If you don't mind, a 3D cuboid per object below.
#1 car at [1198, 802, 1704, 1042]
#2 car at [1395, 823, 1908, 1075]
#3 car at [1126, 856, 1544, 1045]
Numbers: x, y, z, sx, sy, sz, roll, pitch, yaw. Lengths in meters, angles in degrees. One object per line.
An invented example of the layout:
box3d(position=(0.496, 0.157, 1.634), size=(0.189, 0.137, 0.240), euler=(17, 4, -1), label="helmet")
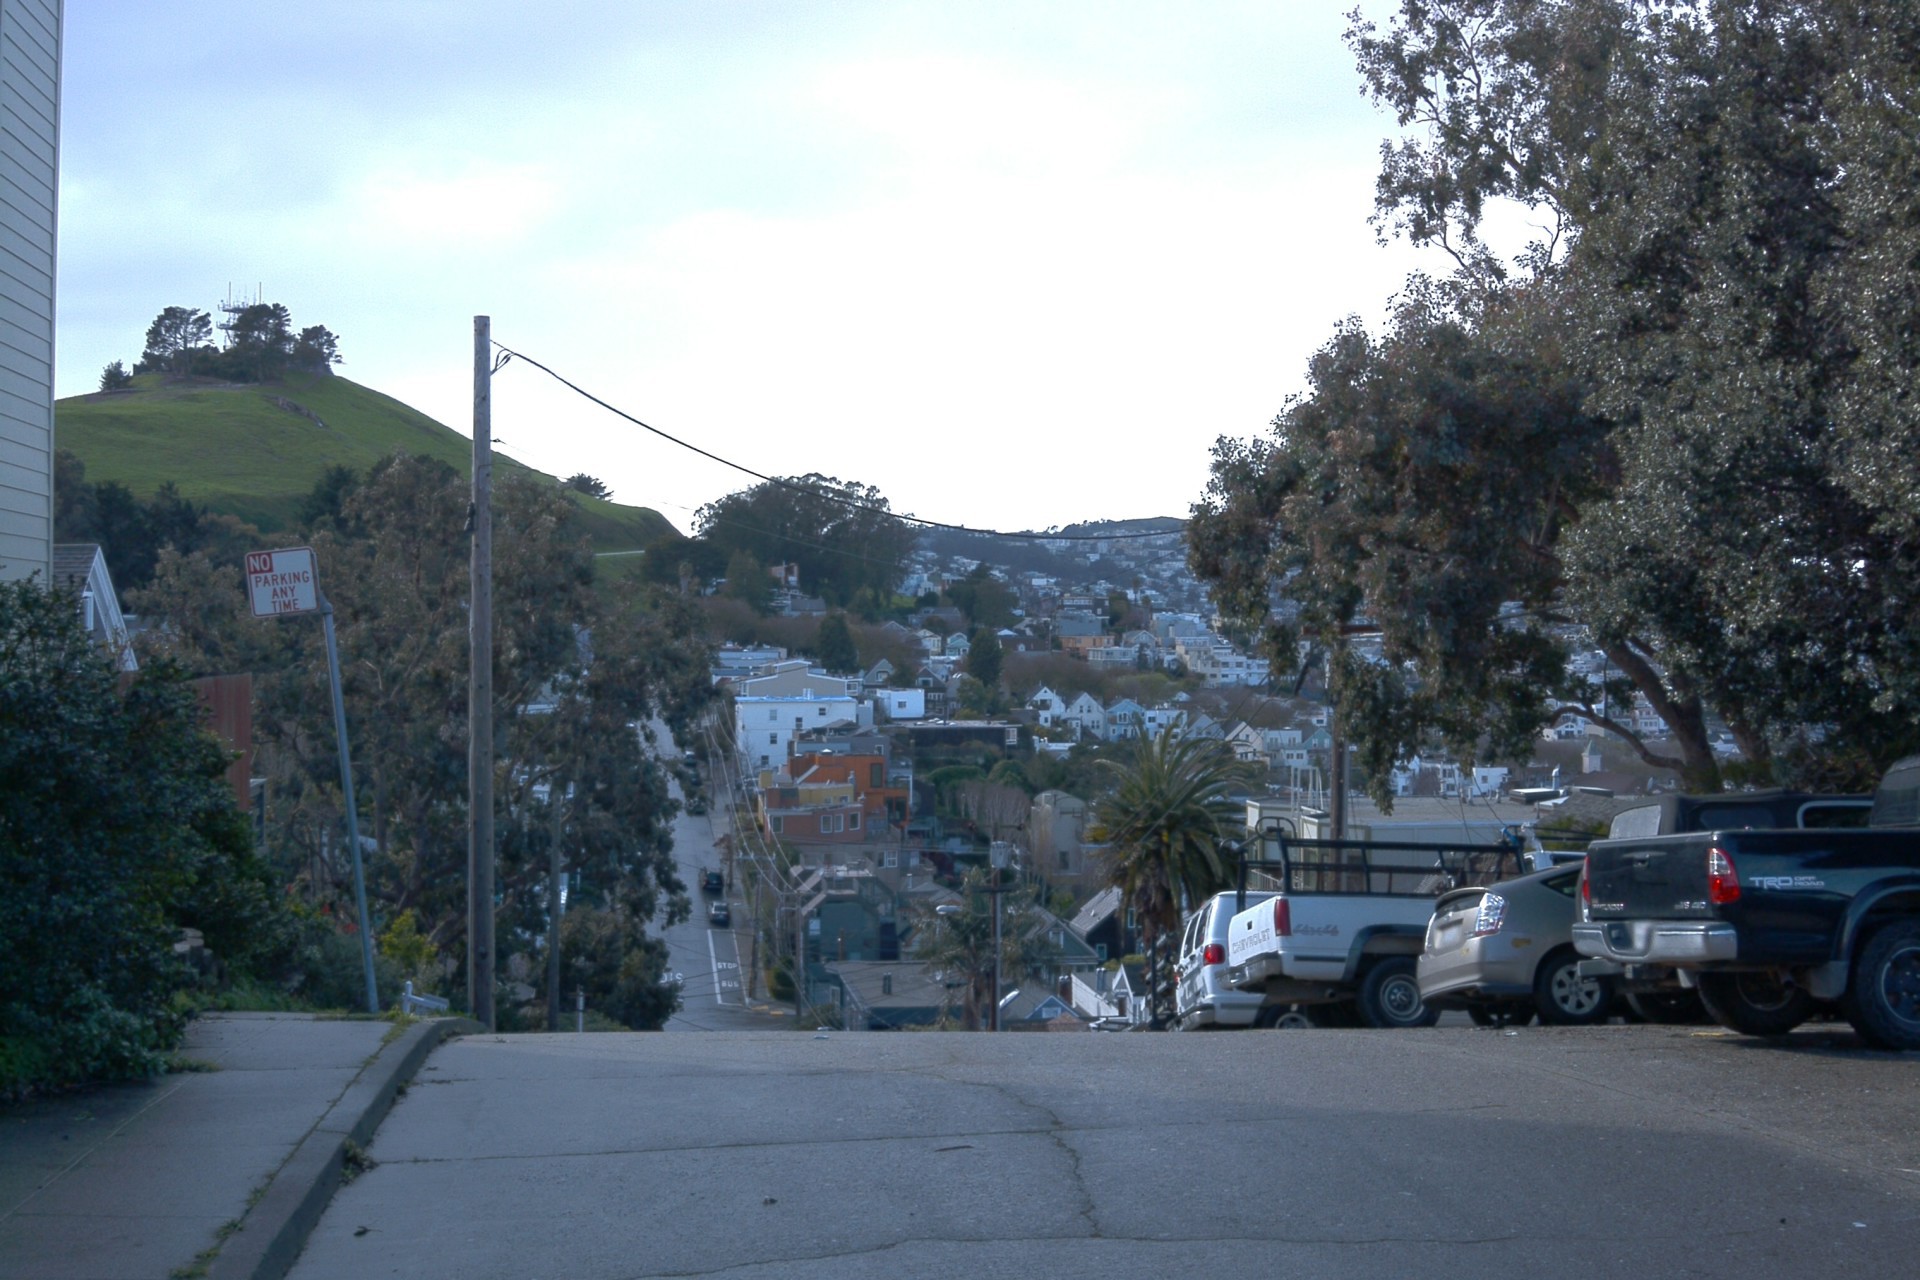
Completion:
box3d(position=(4.756, 2.708, 20.372), size=(4.323, 1.990, 2.277), euler=(0, 1, -8), label="car")
box3d(position=(5.940, 2.625, 17.913), size=(3.838, 1.880, 1.737), euler=(0, 1, -6), label="car")
box3d(position=(4.340, 3.593, 24.245), size=(4.361, 1.810, 2.219), euler=(0, 1, -8), label="car")
